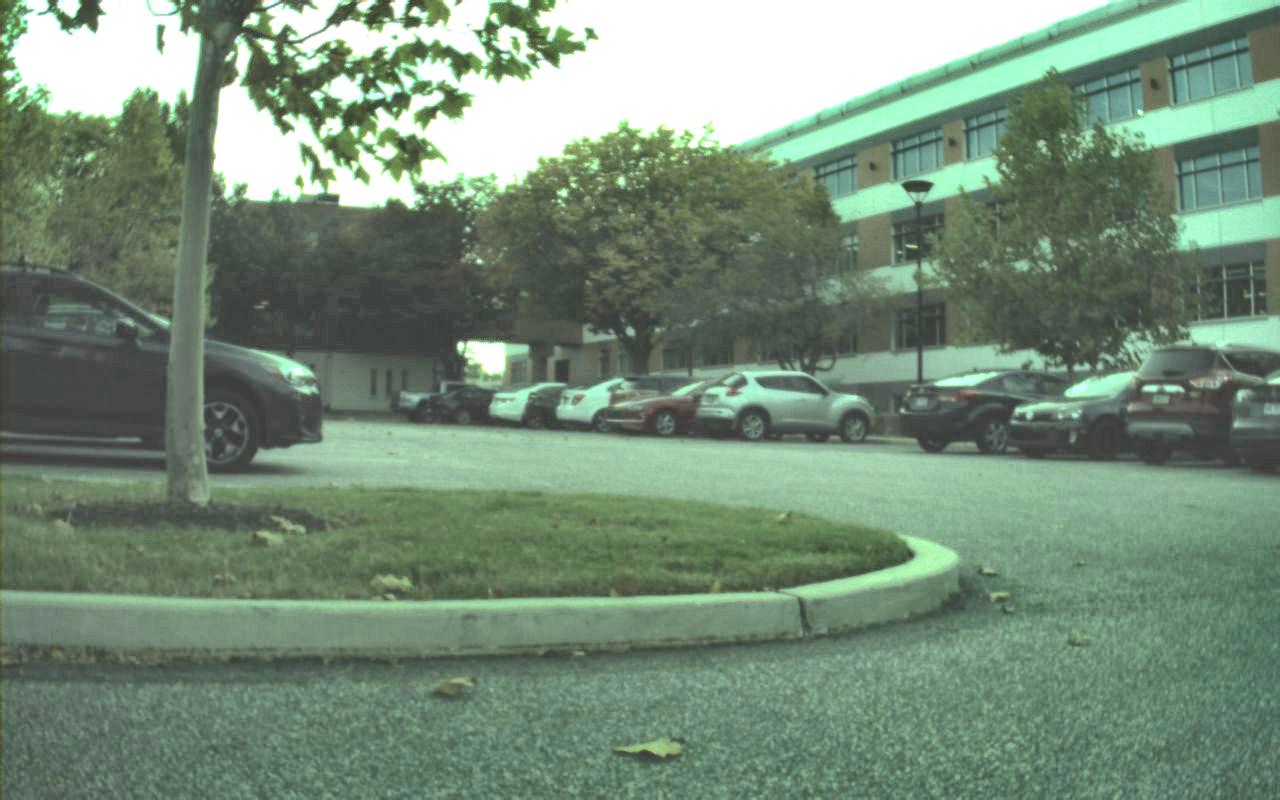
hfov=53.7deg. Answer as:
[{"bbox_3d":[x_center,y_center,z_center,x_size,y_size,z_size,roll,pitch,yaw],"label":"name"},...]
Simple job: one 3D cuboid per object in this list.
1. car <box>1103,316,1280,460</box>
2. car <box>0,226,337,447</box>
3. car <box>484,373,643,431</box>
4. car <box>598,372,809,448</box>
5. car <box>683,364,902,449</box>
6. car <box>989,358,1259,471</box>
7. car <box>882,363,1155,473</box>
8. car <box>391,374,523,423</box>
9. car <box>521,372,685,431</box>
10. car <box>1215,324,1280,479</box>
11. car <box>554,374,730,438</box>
[{"bbox_3d":[8.565,-0.148,16.003,4.450,1.773,1.950,0,1,-28],"label":"car"},{"bbox_3d":[-4.861,-0.465,9.408,4.578,1.648,1.951,0,1,-28],"label":"car"},{"bbox_3d":[-2.410,0.039,39.381,4.593,1.719,1.990,0,1,-22],"label":"car"},{"bbox_3d":[1.476,0.199,29.639,4.561,1.680,1.965,0,1,-20],"label":"car"},{"bbox_3d":[3.375,0.109,27.634,4.454,1.746,1.943,0,1,-22],"label":"car"},{"bbox_3d":[7.591,0.194,18.304,4.375,1.557,1.895,0,1,-24],"label":"car"},{"bbox_3d":[6.443,0.252,20.419,4.576,1.655,1.963,0,1,-24],"label":"car"},{"bbox_3d":[-7.490,-0.078,51.023,5.024,1.917,2.092,0,1,-25],"label":"car"},{"bbox_3d":[-1.110,0.012,37.108,4.430,1.655,1.945,0,1,-23],"label":"car"},{"bbox_3d":[9.173,0.034,13.263,4.490,1.636,1.969,0,1,-18],"label":"car"},{"bbox_3d":[0.042,0.135,34.884,4.476,1.687,1.947,0,1,-21],"label":"car"}]
